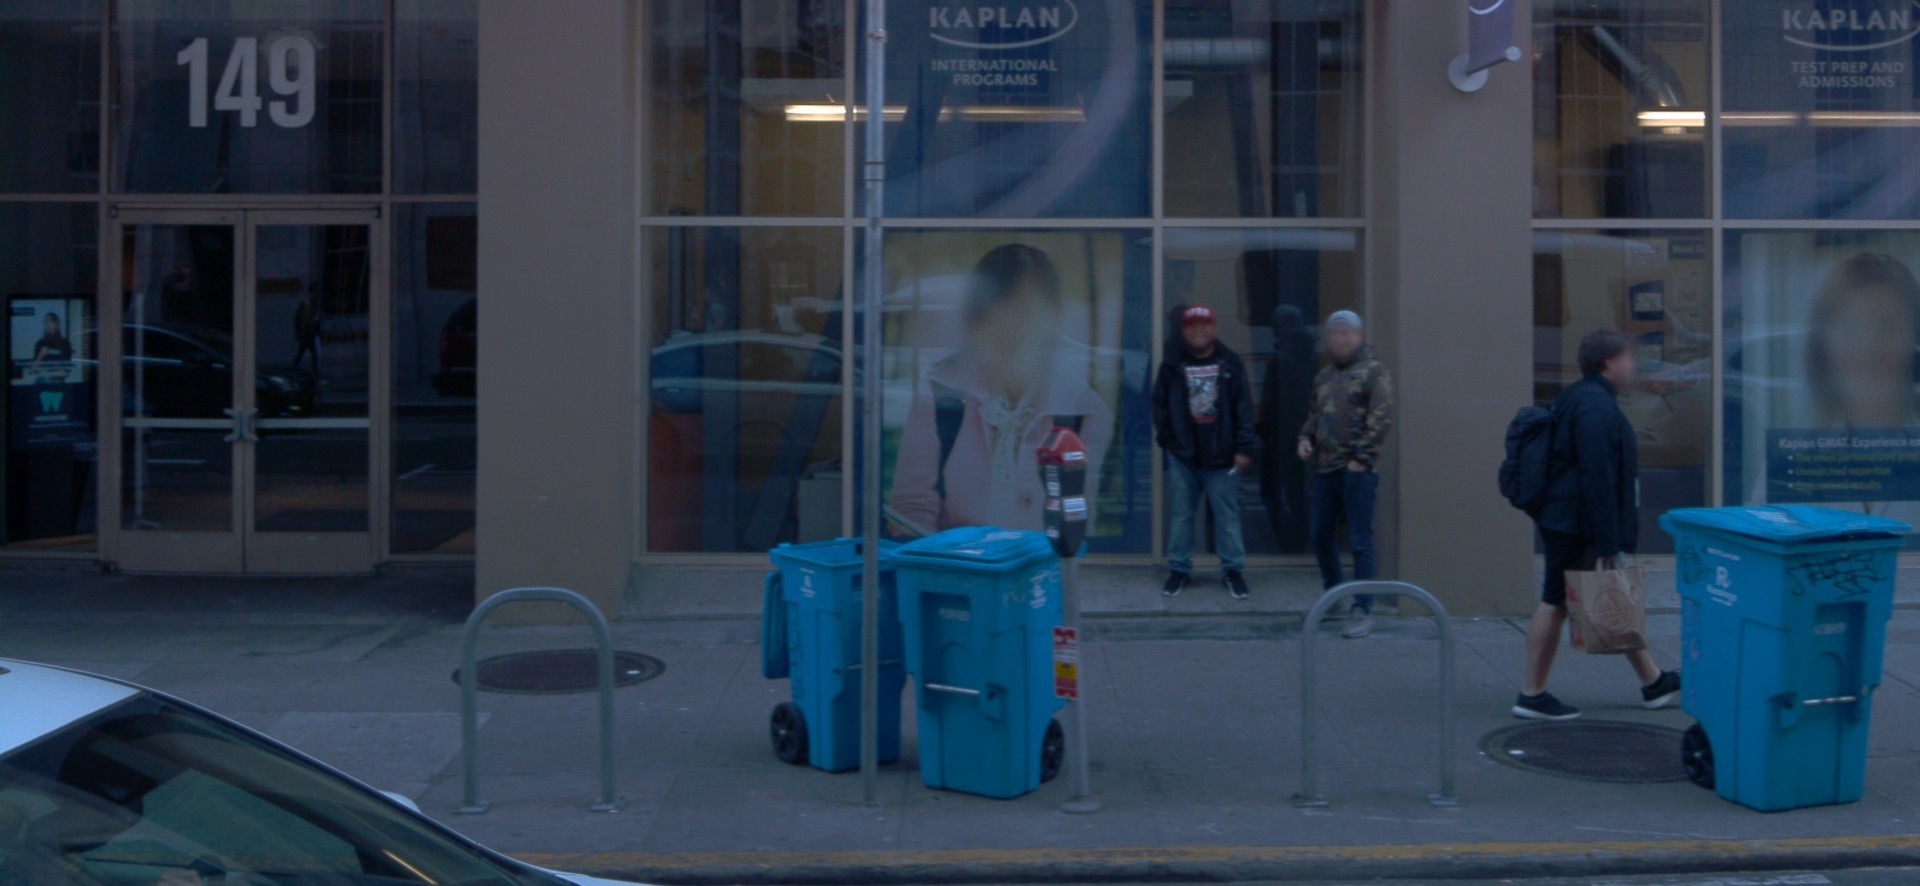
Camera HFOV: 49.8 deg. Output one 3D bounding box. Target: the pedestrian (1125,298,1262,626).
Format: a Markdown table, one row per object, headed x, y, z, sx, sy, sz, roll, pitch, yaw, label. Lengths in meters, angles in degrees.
| x | y | z | sx | sy | sz | roll | pitch | yaw | label |
| --- | --- | --- | --- | --- | --- | --- | --- | --- | --- |
| 1.362 | 0.086 | 12.122 | 0.763 | 1.832 | 0.683 | 0 | 2 | 5 | pedestrian |

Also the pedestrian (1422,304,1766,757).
| x | y | z | sx | sy | sz | roll | pitch | yaw | label |
| --- | --- | --- | --- | --- | --- | --- | --- | --- | --- |
| 2.823 | 0.332 | 9.367 | 1.256 | 1.861 | 1.172 | 0 | 3 | 4 | pedestrian |

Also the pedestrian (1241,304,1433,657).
| x | y | z | sx | sy | sz | roll | pitch | yaw | label |
| --- | --- | --- | --- | --- | --- | --- | --- | --- | --- |
| 2.091 | 0.167 | 11.474 | 0.722 | 1.822 | 0.753 | -2 | 3 | -41 | pedestrian |
